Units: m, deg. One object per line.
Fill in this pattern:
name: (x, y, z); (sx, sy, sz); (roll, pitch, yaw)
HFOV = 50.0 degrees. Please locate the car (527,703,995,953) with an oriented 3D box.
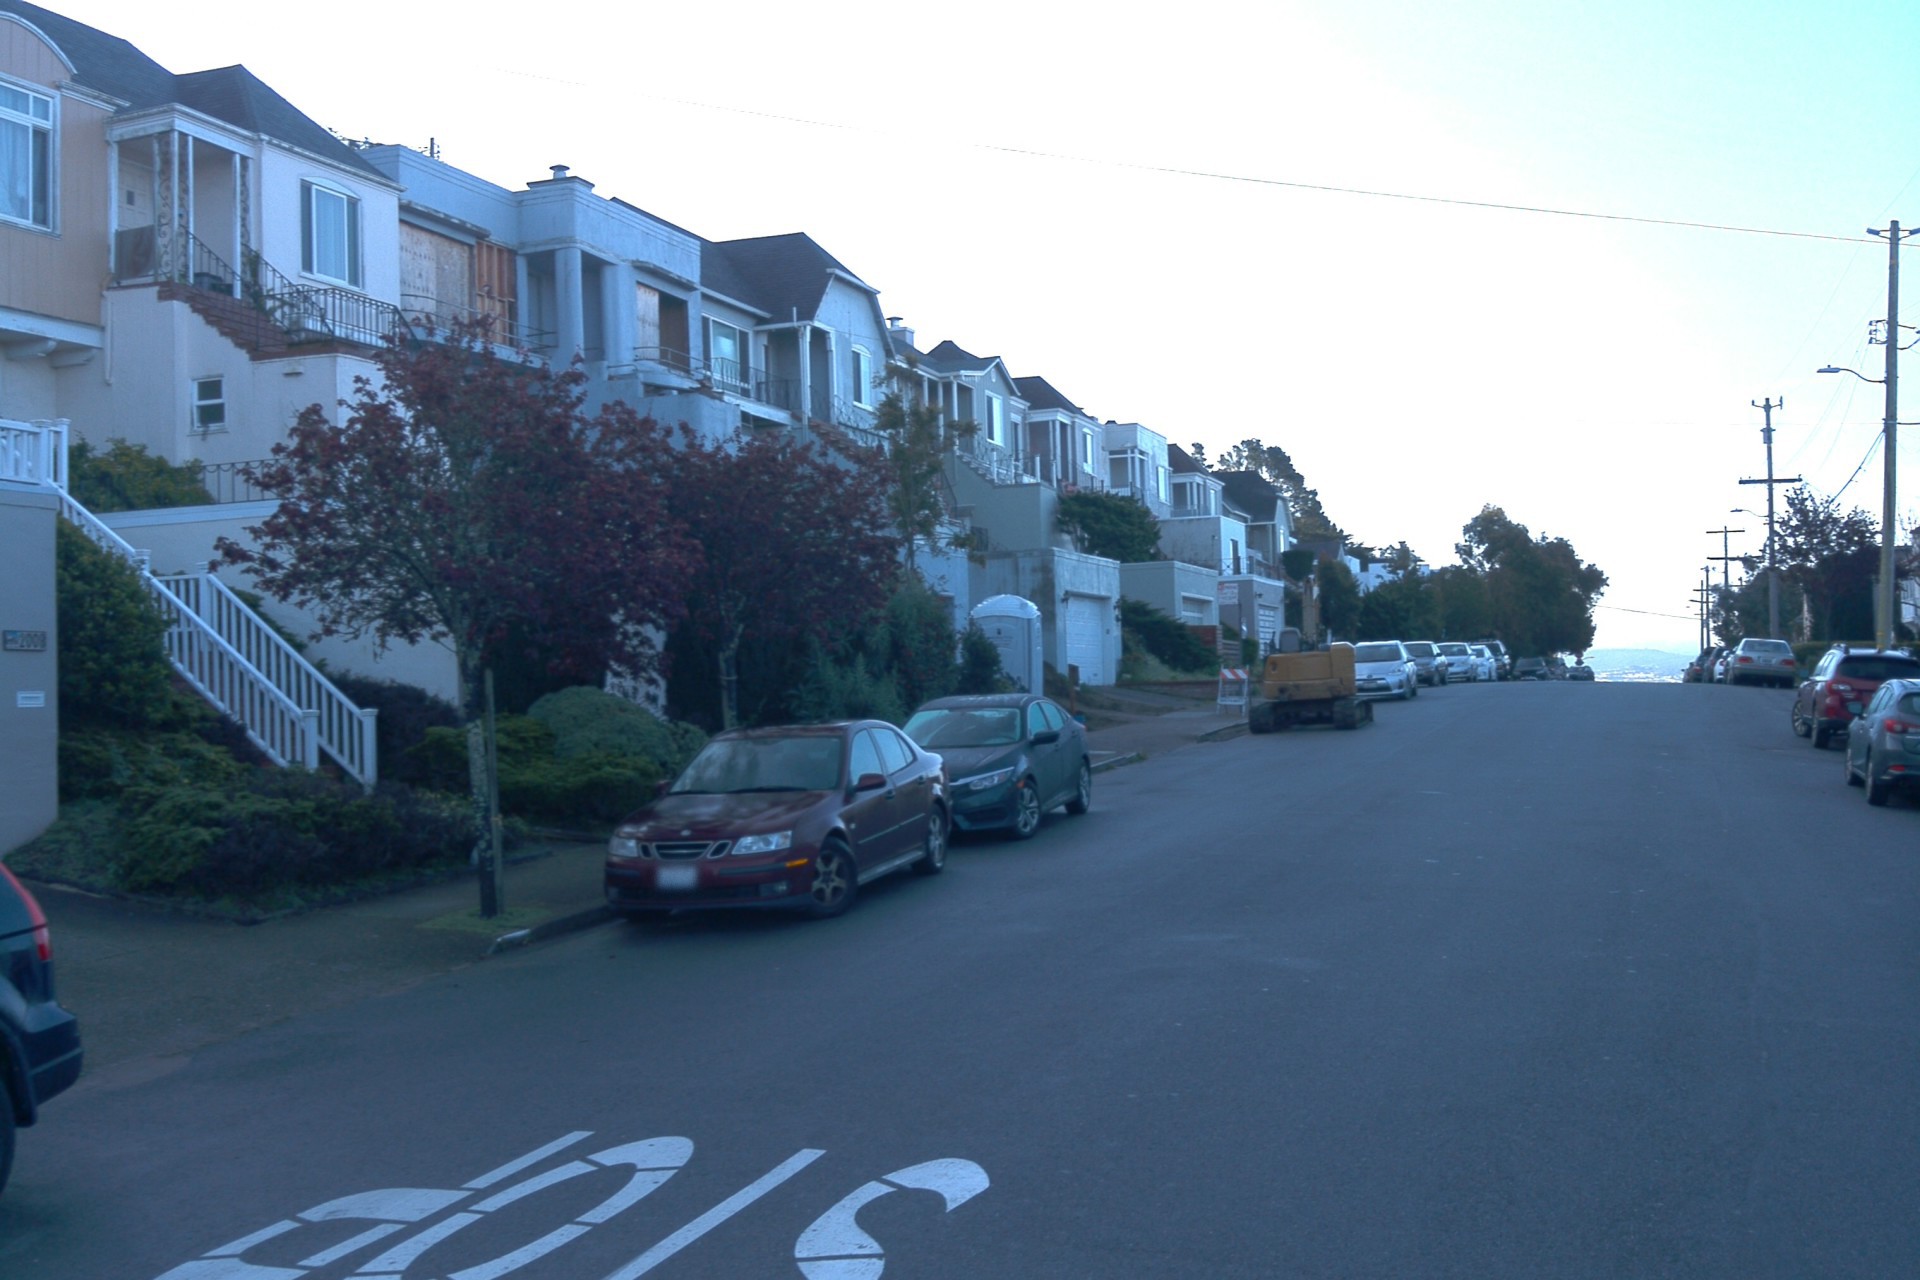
car: (-1.390, 1.376, 16.786); (2.144, 1.560, 4.812); (0, 0, 16)

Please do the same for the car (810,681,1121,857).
car: (0.207, 1.277, 22.093); (2.157, 1.560, 4.769); (0, 0, 15)
